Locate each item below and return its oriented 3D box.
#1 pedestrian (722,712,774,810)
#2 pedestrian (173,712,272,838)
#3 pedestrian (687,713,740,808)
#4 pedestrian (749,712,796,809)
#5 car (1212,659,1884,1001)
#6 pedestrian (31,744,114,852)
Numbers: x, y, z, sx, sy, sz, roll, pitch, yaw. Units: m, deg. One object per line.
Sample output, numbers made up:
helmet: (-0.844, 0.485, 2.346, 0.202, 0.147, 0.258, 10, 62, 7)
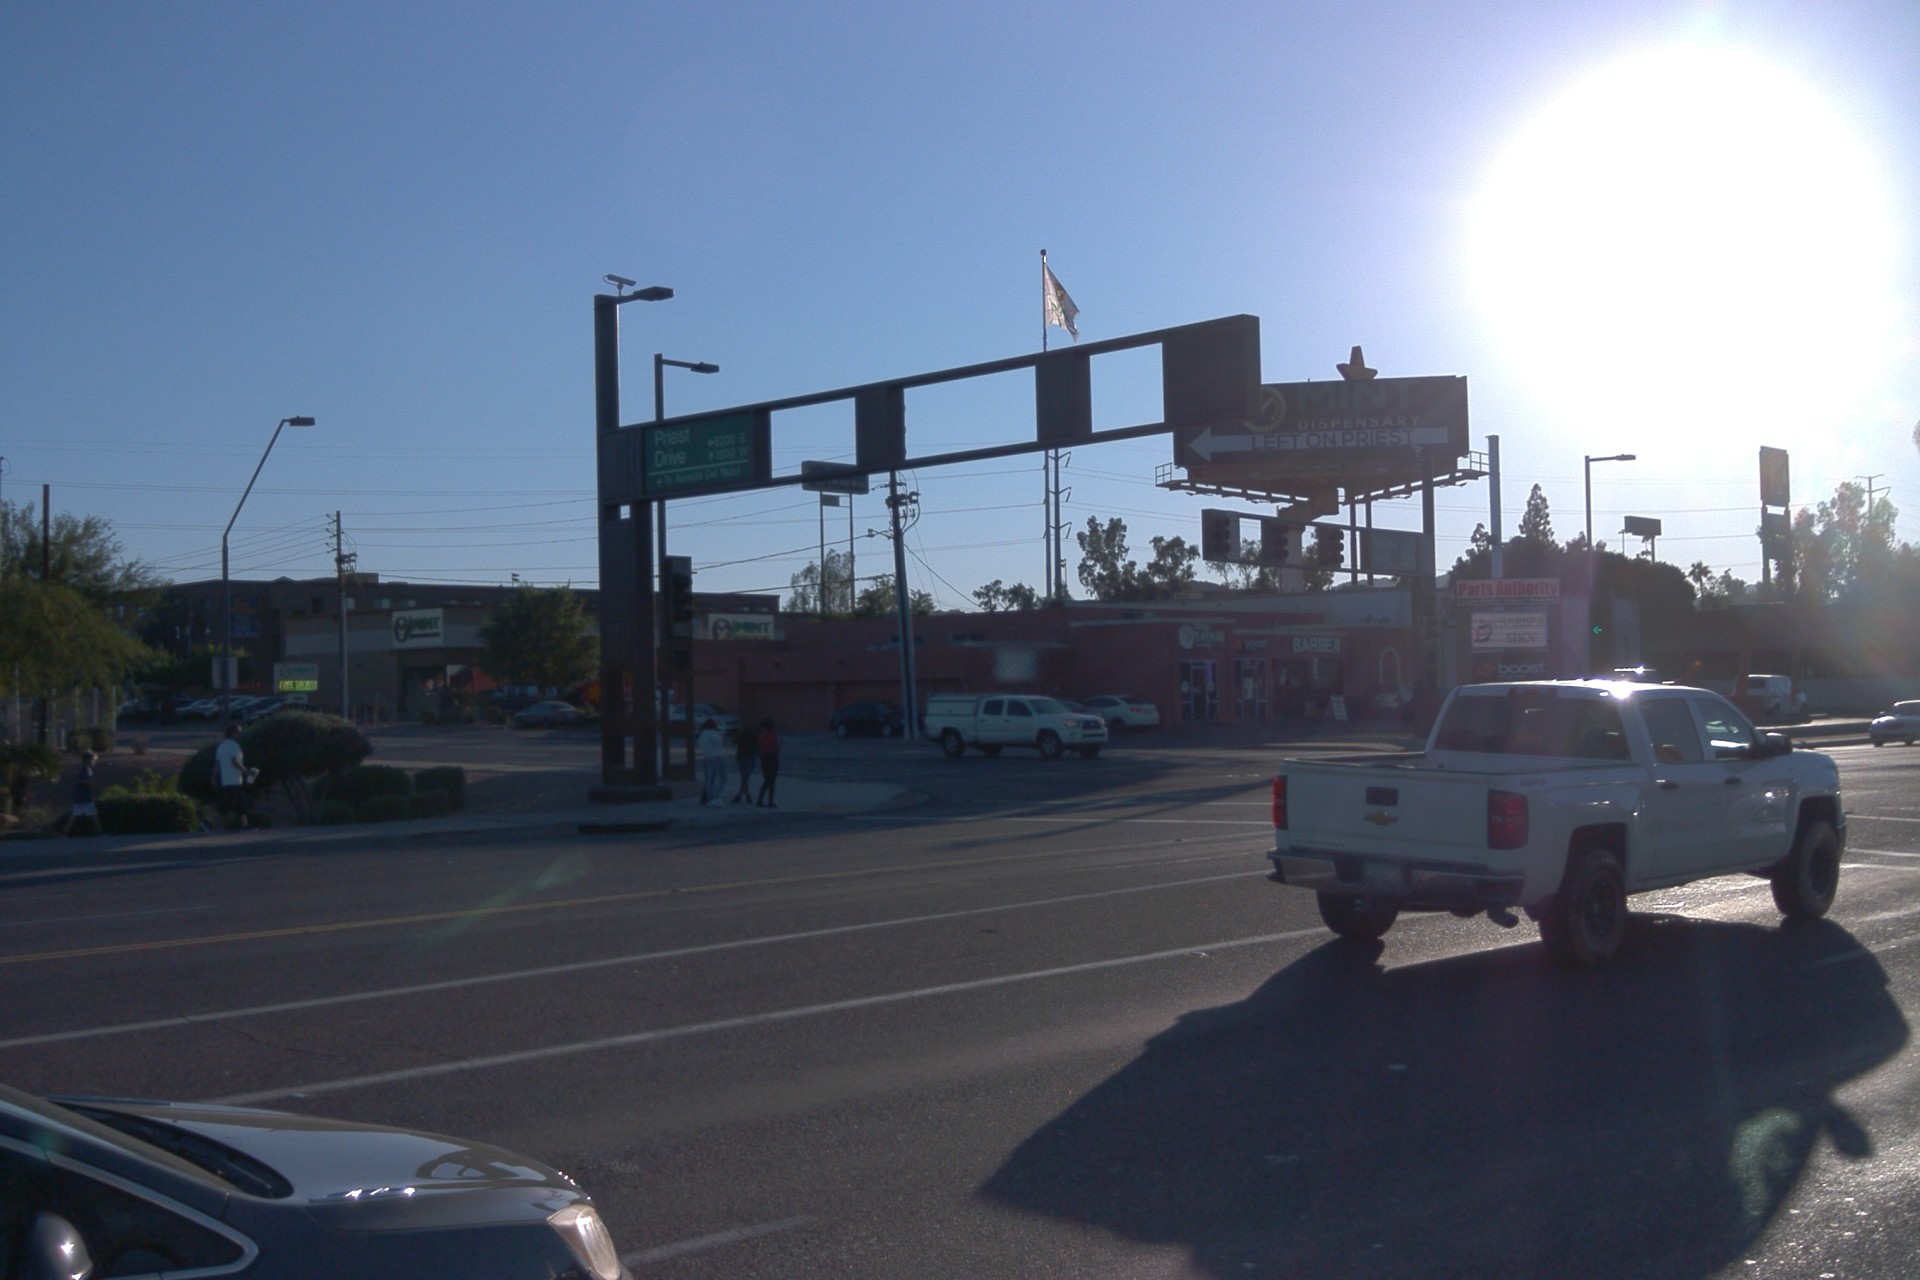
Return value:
pedestrian: (-3.807, 2.171, 37.479, 0.722, 1.720, 0.936, -1, -1, 6)
pedestrian: (-10.868, 1.969, 30.707, 1.155, 1.776, 0.859, 0, -1, -38)
pedestrian: (-4.322, 2.104, 36.556, 0.652, 1.640, 0.645, -1, -1, 31)
pedestrian: (-3.308, 2.111, 36.691, 0.654, 1.660, 0.643, 0, -1, -23)
car: (4.670, 1.219, 15.864, 2.388, 2.100, 5.786, -1, -1, 45)
pedestrian: (-12.932, 2.284, 30.361, 0.909, 1.490, 0.822, 0, -1, -41)
